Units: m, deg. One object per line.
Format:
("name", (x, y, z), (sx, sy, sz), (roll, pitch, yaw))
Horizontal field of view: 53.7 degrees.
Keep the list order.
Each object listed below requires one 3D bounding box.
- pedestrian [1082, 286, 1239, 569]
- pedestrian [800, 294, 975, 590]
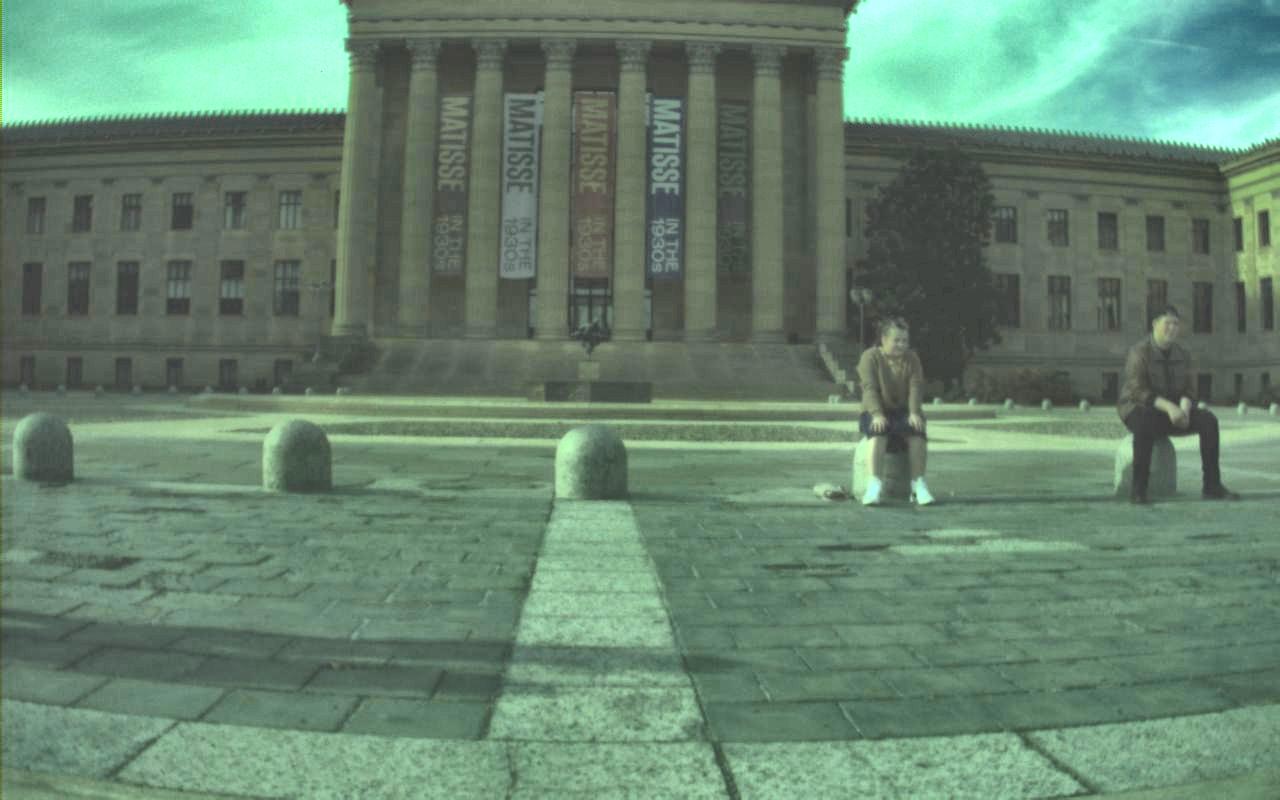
("pedestrian", (3.499, 0.186, 7.898), (0.843, 1.796, 0.856), (0, 0, 3))
("pedestrian", (1.595, 0.246, 7.927), (0.828, 1.767, 0.828), (1, 0, 37))
